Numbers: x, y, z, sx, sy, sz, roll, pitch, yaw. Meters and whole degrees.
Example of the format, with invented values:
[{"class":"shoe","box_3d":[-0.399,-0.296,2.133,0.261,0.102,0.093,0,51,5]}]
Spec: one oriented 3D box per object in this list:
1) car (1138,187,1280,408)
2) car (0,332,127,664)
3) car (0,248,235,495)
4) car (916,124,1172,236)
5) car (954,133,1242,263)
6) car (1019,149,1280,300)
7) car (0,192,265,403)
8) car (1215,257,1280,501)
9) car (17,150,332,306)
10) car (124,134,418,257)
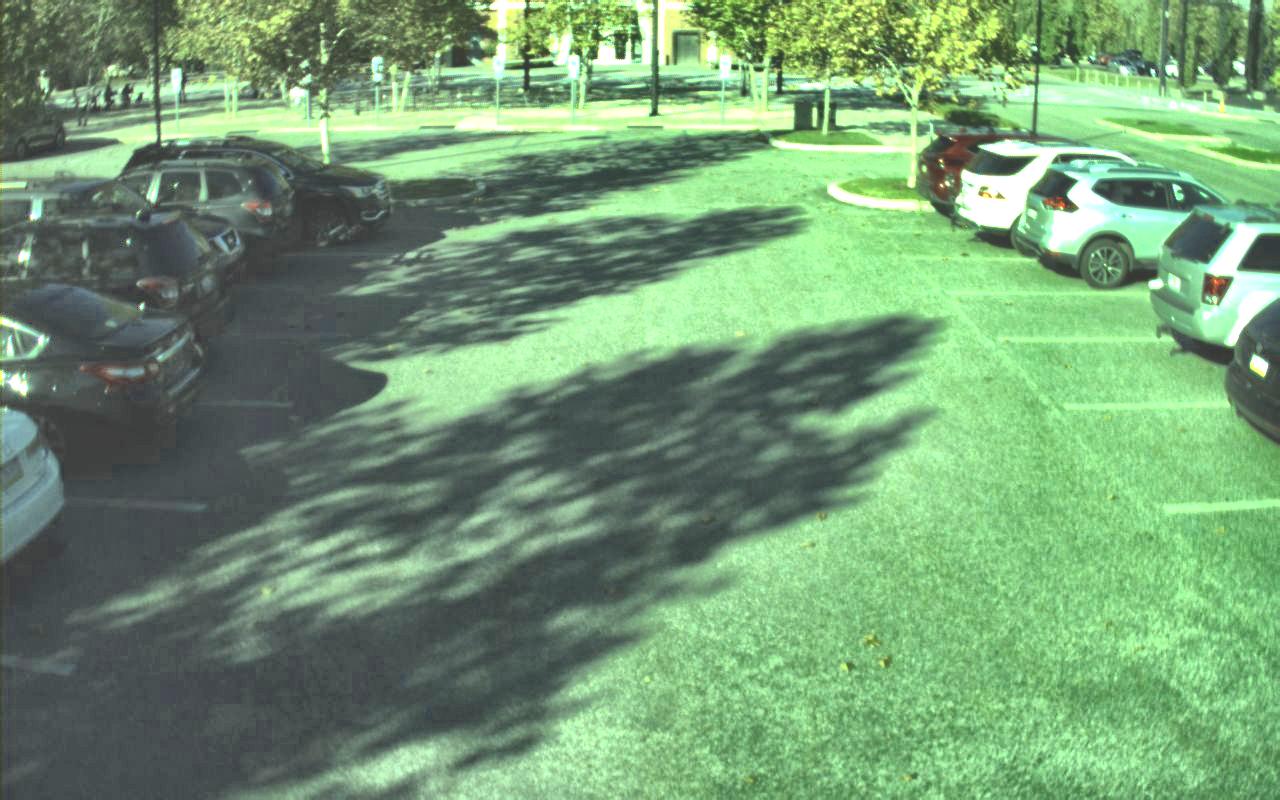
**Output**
[{"class":"car","box_3d":[7.890,-1.127,12.057,4.656,1.888,2.061,-1,16,2]},{"class":"car","box_3d":[-5.904,0.605,7.258,4.326,1.555,1.918,-1,16,1]},{"class":"car","box_3d":[-5.822,-0.222,9.721,4.335,1.572,1.926,-2,16,-2]},{"class":"car","box_3d":[7.504,-4.085,22.307,4.504,1.769,2.003,-2,16,-2]},{"class":"car","box_3d":[7.592,-3.323,19.614,4.567,1.827,2.015,-2,16,-2]},{"class":"car","box_3d":[7.924,-2.558,17.044,4.558,1.793,2.001,0,16,3]},{"class":"car","box_3d":[-6.345,-1.083,12.269,4.405,1.682,1.977,-2,16,-3]},{"class":"car","box_3d":[7.612,-0.257,9.664,4.472,1.611,1.961,-1,16,0]},{"class":"car","box_3d":[-6.856,-2.537,17.394,4.467,1.707,1.996,-3,16,-5]},{"class":"car","box_3d":[-6.257,-3.412,20.208,4.655,1.705,2.032,3,17,12]}]
